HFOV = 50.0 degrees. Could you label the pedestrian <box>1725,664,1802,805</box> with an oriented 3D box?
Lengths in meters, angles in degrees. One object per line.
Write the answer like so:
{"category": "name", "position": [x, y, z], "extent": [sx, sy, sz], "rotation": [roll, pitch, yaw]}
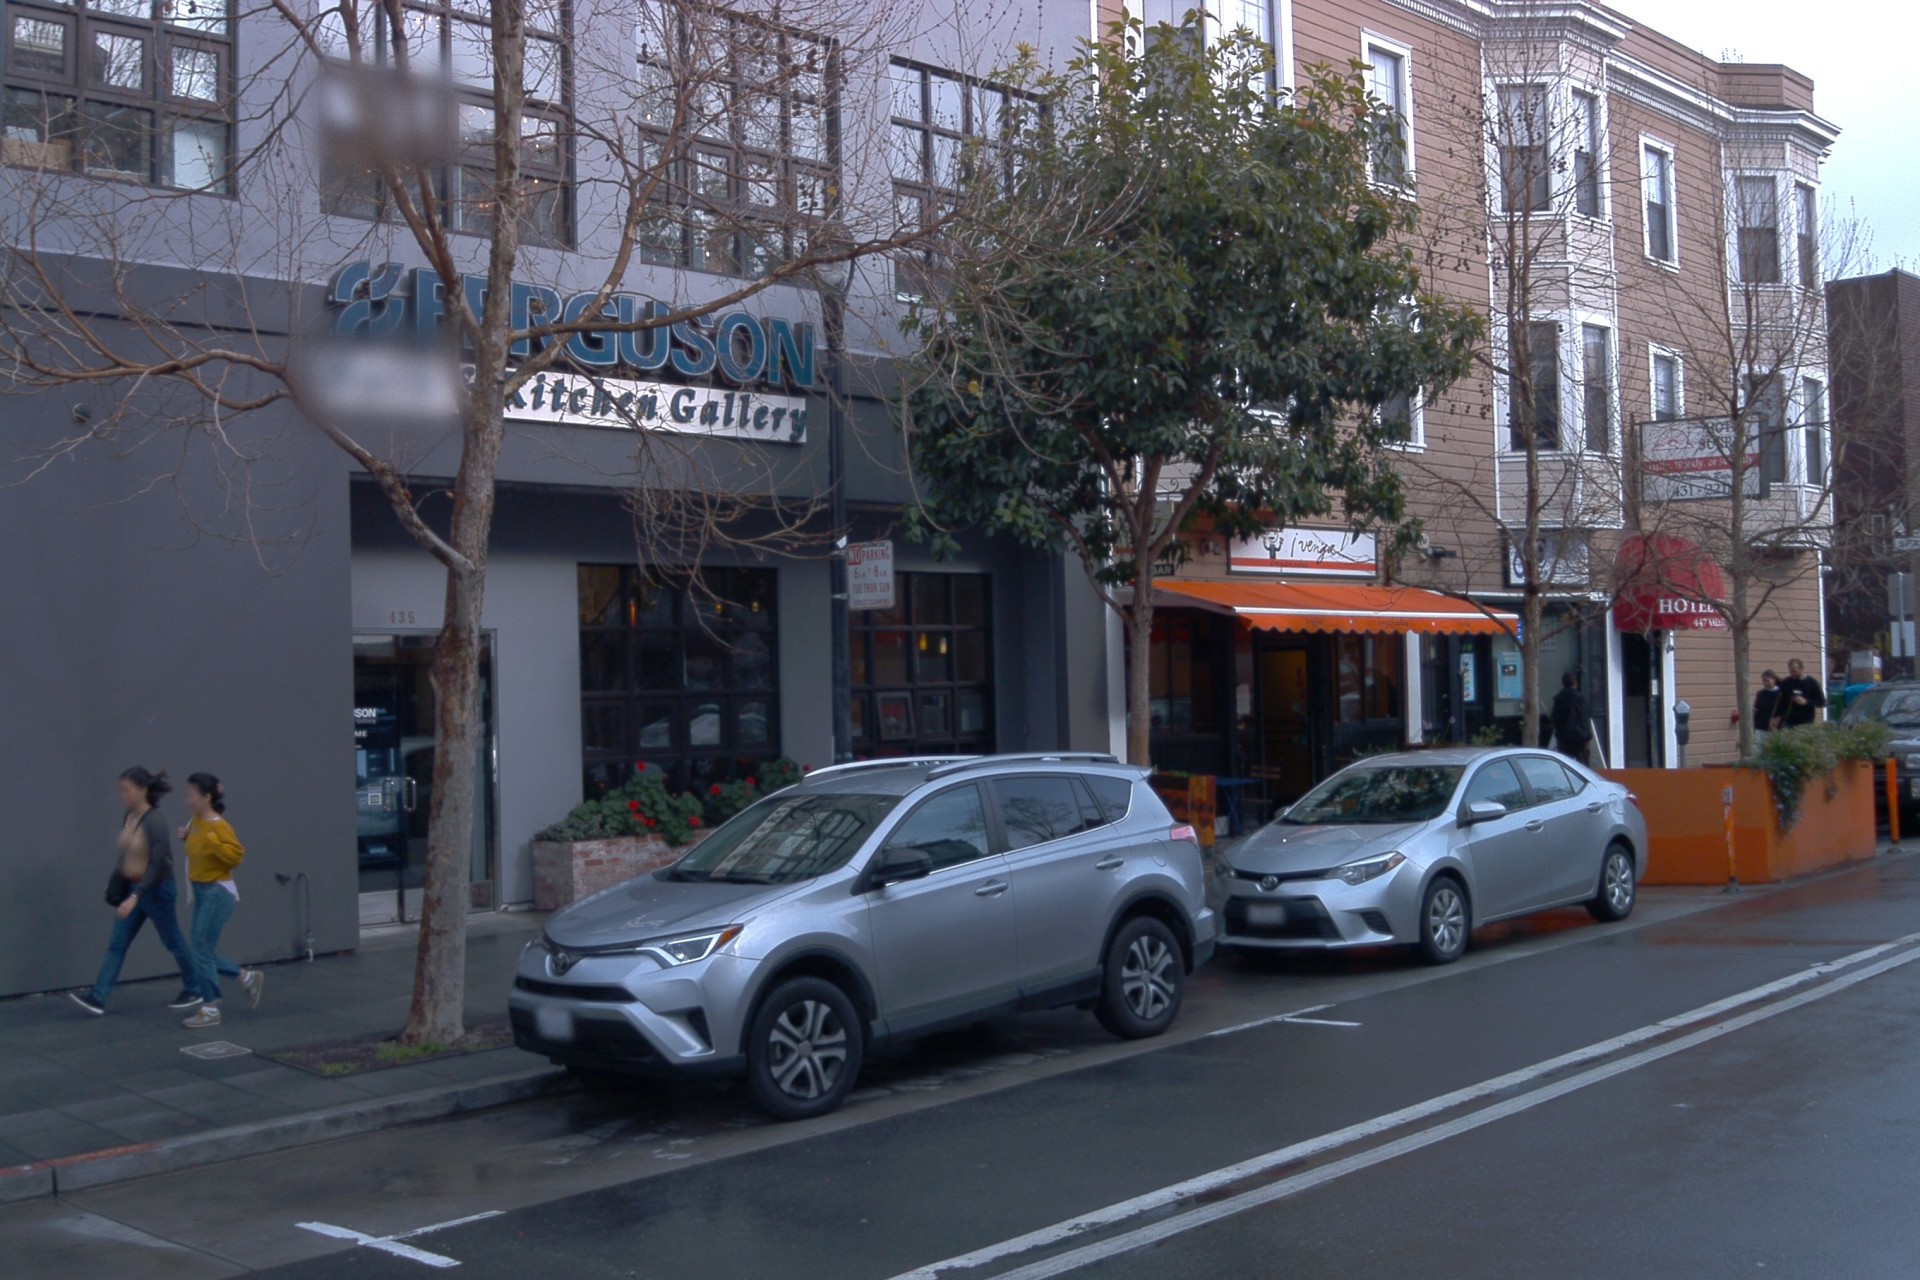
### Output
{"category": "pedestrian", "position": [10.804, 1.256, 27.665], "extent": [0.643, 1.841, 0.733], "rotation": [-1, 1, -42]}

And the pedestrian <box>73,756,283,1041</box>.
{"category": "pedestrian", "position": [-4.776, 1.540, 12.574], "extent": [0.793, 1.570, 0.933], "rotation": [1, 1, 42]}

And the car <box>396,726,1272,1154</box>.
{"category": "car", "position": [-0.533, 1.440, 11.561], "extent": [4.598, 1.640, 2.200], "rotation": [-1, 1, -45]}

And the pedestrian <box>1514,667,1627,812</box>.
{"category": "pedestrian", "position": [7.786, 1.239, 26.207], "extent": [0.998, 1.756, 1.181], "rotation": [1, 1, 38]}

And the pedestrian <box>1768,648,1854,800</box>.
{"category": "pedestrian", "position": [11.184, 1.088, 27.036], "extent": [0.692, 1.941, 0.813], "rotation": [-1, 1, -43]}

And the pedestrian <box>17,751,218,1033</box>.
{"category": "pedestrian", "position": [-5.347, 1.559, 13.055], "extent": [0.883, 1.620, 0.895], "rotation": [1, 1, 44]}

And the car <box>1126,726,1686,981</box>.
{"category": "car", "position": [3.564, 1.493, 15.836], "extent": [2.182, 1.390, 4.603], "rotation": [1, 1, 43]}
